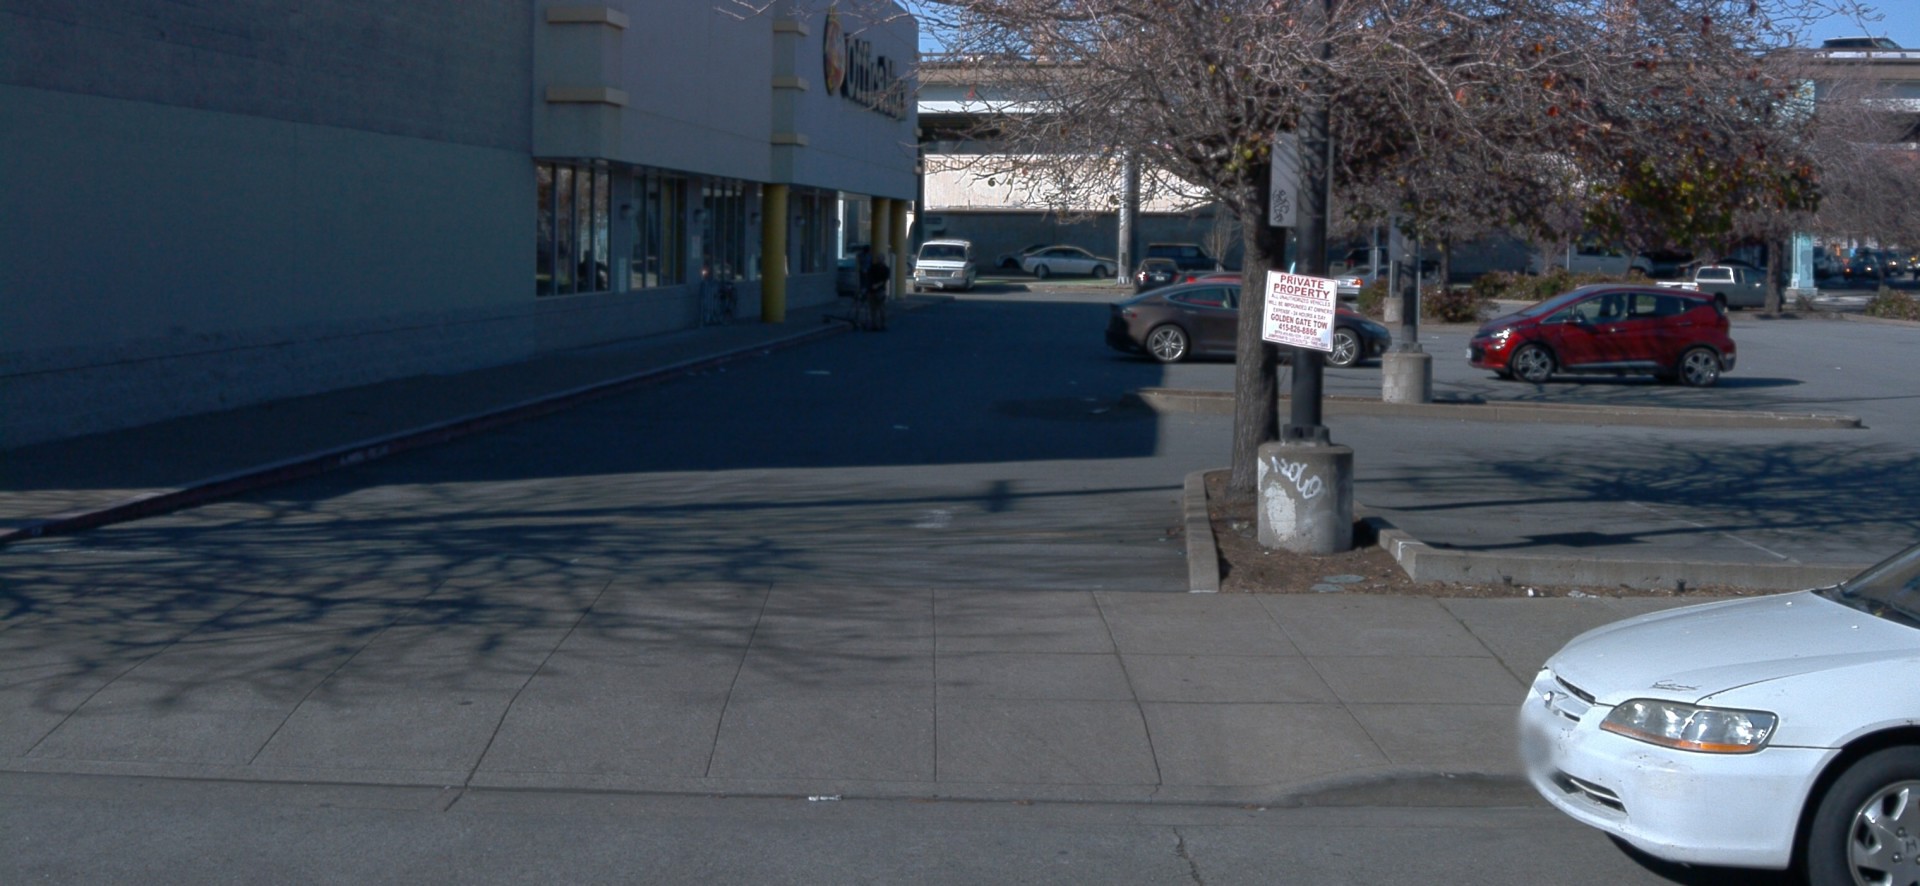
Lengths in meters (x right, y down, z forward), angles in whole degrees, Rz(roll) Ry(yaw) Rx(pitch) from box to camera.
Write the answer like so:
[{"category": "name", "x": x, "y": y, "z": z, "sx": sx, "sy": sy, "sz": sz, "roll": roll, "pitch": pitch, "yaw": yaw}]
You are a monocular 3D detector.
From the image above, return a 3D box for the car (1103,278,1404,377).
[{"category": "car", "x": 5.047, "y": -2.038, "z": 35.894, "sx": 5.044, "sy": 1.525, "sz": 1.995, "roll": 1, "pitch": 4, "yaw": 5}]

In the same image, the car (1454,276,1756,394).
[{"category": "car", "x": 10.189, "y": -1.747, "z": 32.744, "sx": 4.156, "sy": 1.695, "sz": 2.038, "roll": 1, "pitch": 4, "yaw": 2}]
